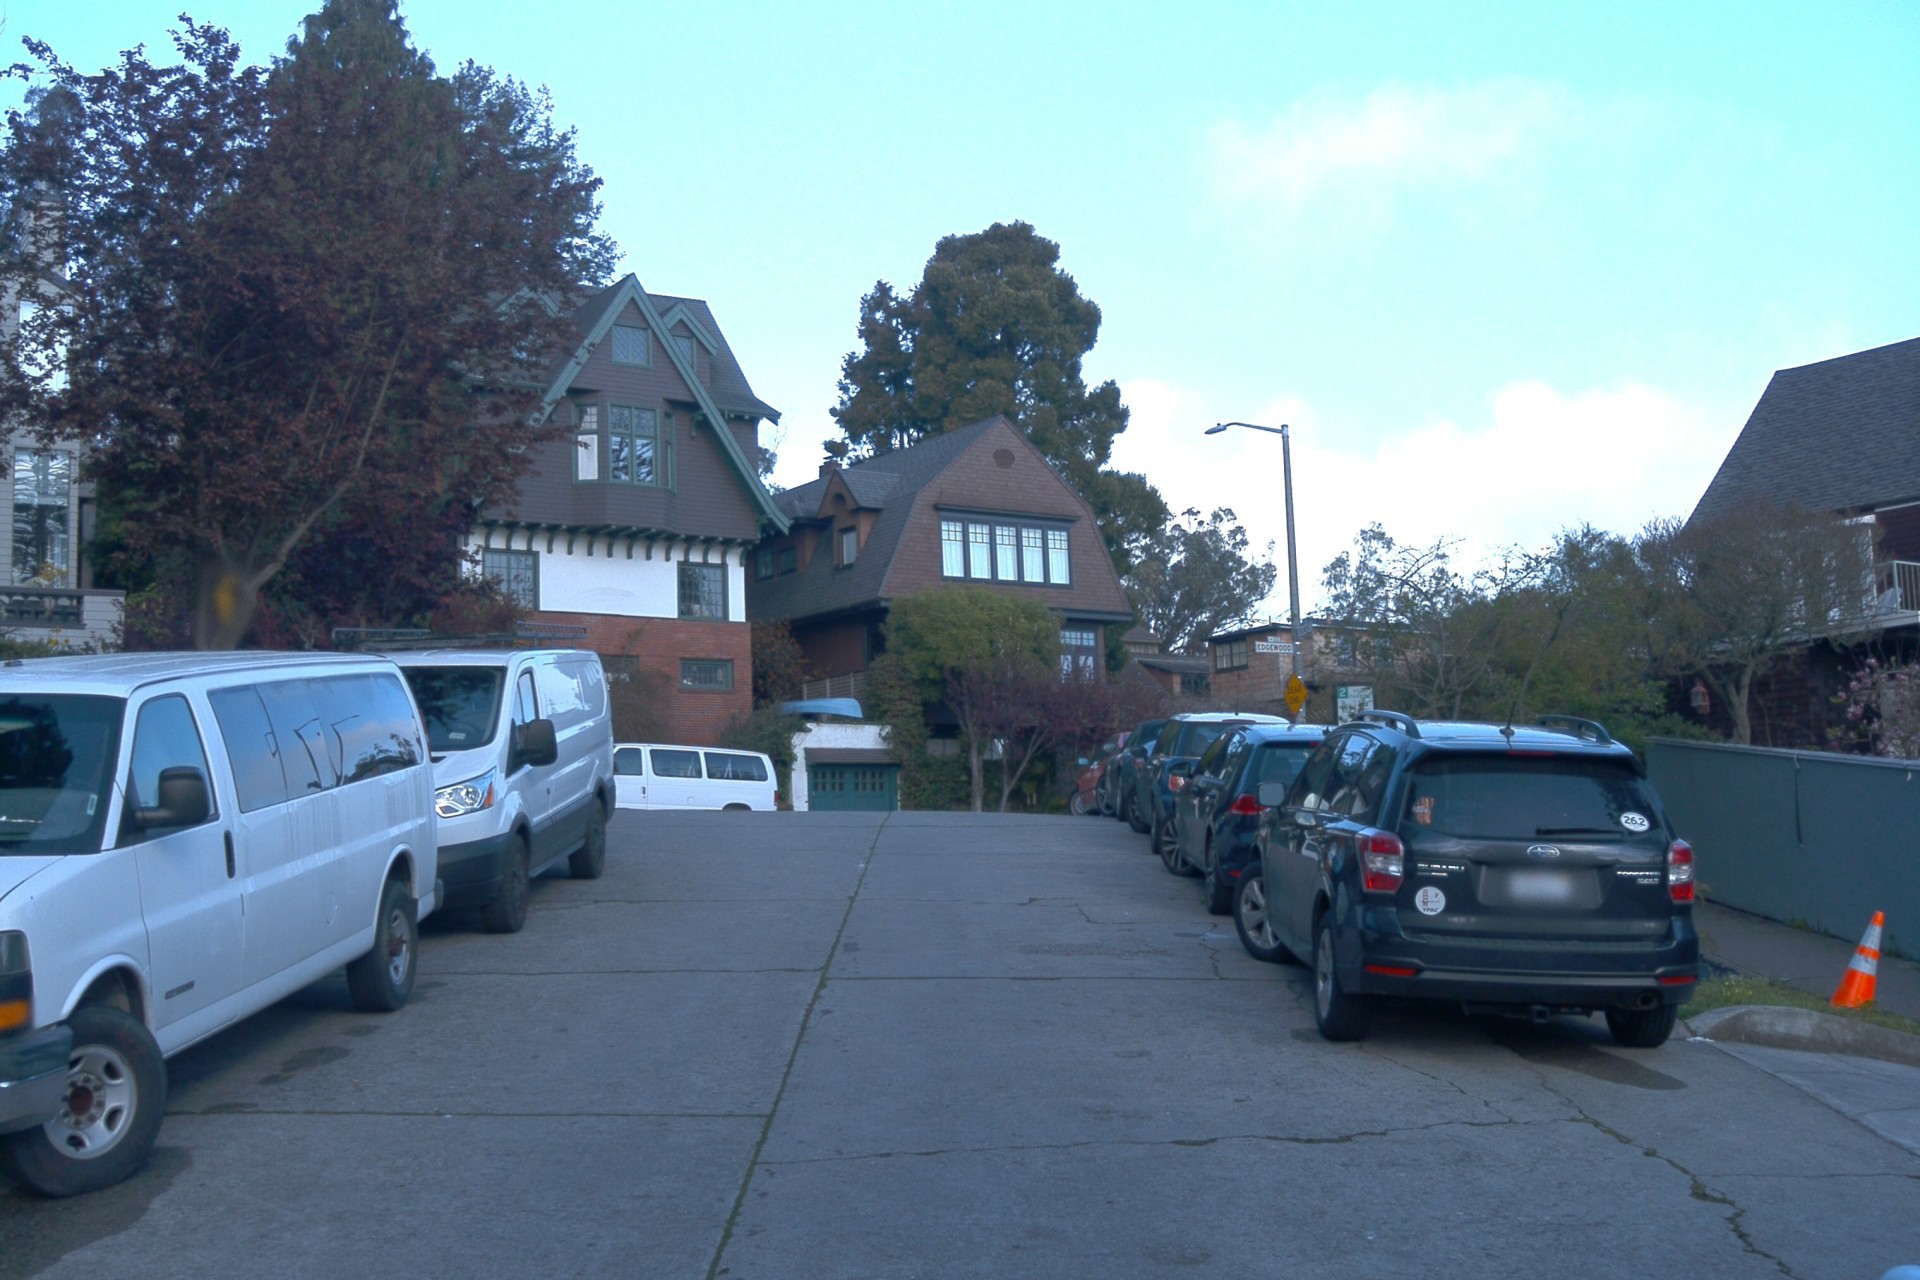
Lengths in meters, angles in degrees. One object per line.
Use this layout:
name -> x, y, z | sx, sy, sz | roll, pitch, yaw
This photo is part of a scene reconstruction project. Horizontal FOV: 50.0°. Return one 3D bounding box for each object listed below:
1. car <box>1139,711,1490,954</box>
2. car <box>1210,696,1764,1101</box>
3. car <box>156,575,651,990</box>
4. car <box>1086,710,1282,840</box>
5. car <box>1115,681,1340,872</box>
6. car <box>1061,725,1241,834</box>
car -> 2.773, 1.475, 17.173 | 2.063, 1.611, 4.337 | 0, 0, -2
car -> 2.811, 1.304, 12.212 | 2.162, 1.810, 4.637 | 0, 0, 1
car -> -4.163, 0.954, 16.720 | 2.479, 2.779, 5.830 | 0, 0, -1
car -> 2.738, 1.642, 26.130 | 1.899, 1.350, 4.380 | 0, 0, -2
car -> 2.704, 1.345, 21.617 | 1.912, 1.751, 3.778 | 0, 0, 1
car -> 2.798, 2.048, 31.149 | 1.907, 1.340, 4.382 | 0, 0, -6
